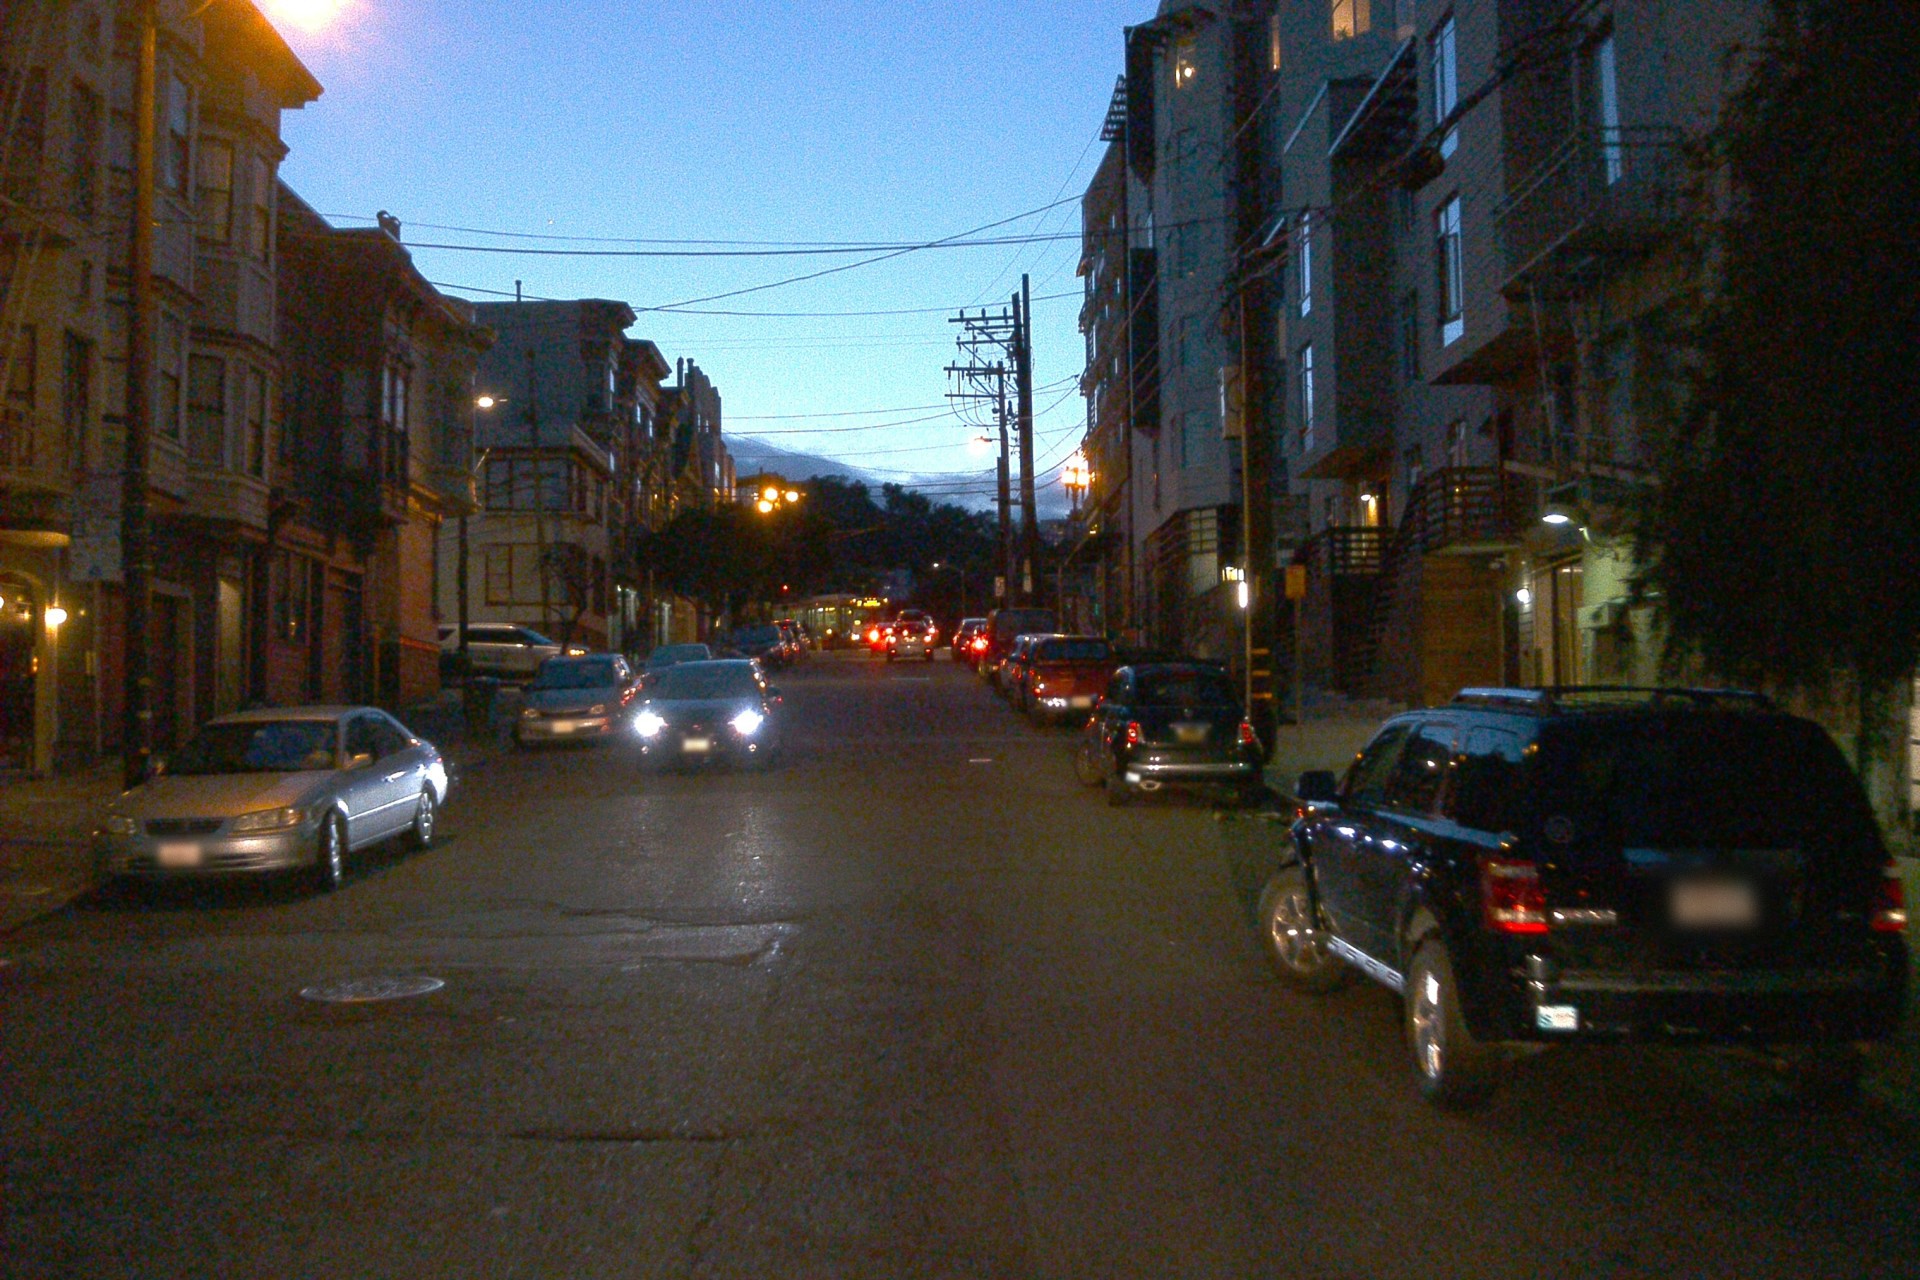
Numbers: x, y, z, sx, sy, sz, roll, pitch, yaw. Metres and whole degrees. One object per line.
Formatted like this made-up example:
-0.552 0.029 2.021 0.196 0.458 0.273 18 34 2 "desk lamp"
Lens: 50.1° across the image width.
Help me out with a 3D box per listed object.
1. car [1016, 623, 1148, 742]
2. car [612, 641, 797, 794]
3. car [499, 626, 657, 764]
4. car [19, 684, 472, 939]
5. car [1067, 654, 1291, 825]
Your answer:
2.090 0.692 36.556 2.056 1.920 4.865 0 1 0 "car"
-3.402 0.976 28.242 2.034 1.850 4.626 0 1 -1 "car"
-6.227 0.841 33.985 1.933 2.100 4.140 0 1 -2 "car"
-5.842 1.321 17.569 2.094 1.690 4.822 0 1 1 "car"
2.347 1.034 22.957 1.854 1.660 3.633 0 1 -4 "car"
